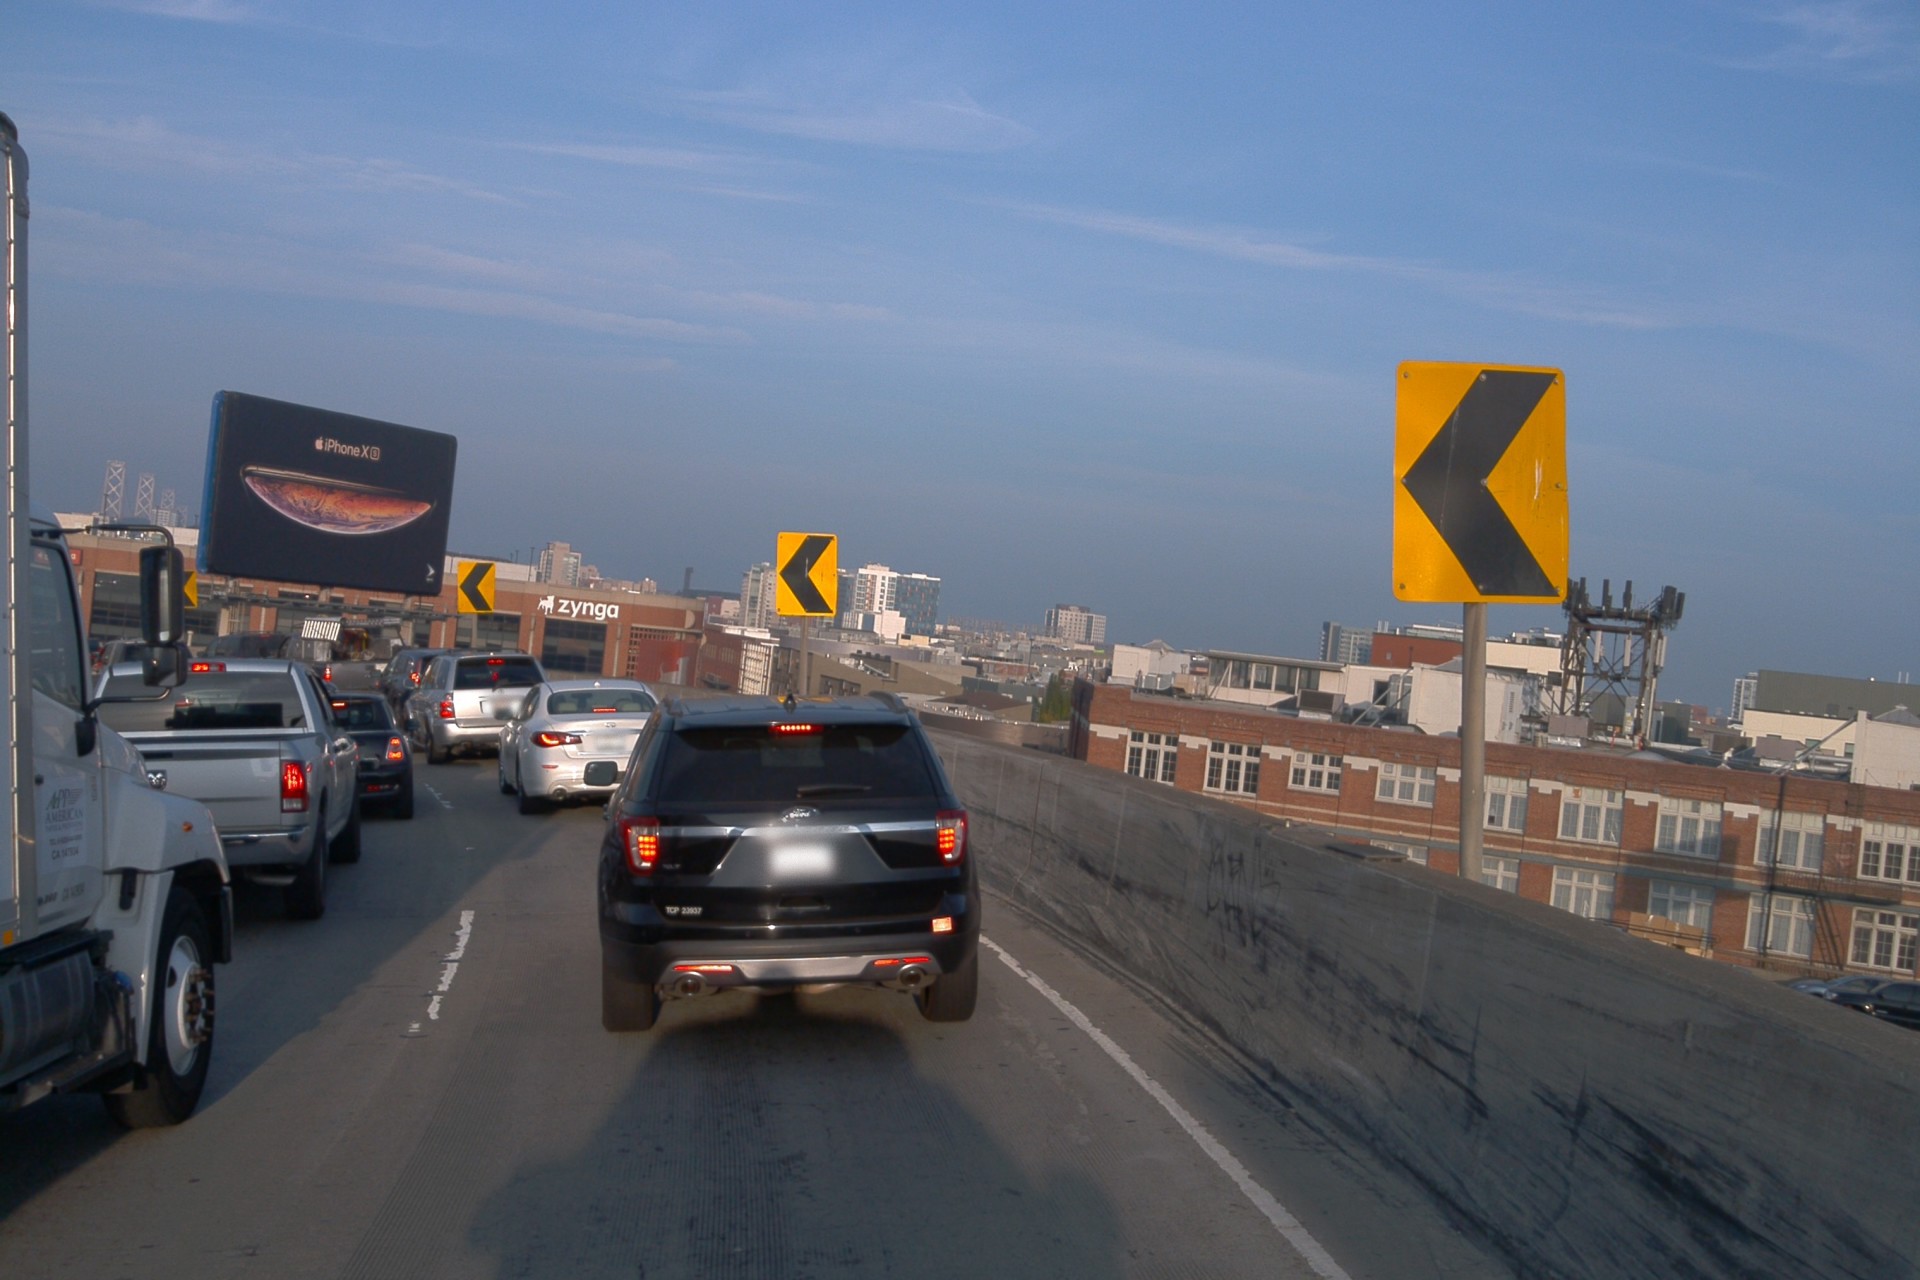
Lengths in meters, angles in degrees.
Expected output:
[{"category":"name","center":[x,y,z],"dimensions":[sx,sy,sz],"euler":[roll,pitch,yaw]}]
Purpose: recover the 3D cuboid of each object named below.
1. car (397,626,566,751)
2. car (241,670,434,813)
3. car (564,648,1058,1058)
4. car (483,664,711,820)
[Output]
[{"category":"car","center":[-7.624,0.703,32.420],"dimensions":[1.992,1.820,4.394],"euler":[0,0,-21]},{"category":"car","center":[-7.119,1.101,23.815],"dimensions":[1.934,1.411,4.084],"euler":[0,0,-14]},{"category":"car","center":[-1.089,0.994,12.090],"dimensions":[2.327,1.850,4.876],"euler":[0,0,-10]},{"category":"car","center":[-4.415,1.121,24.393],"dimensions":[2.144,1.590,4.509],"euler":[0,0,-17]}]
